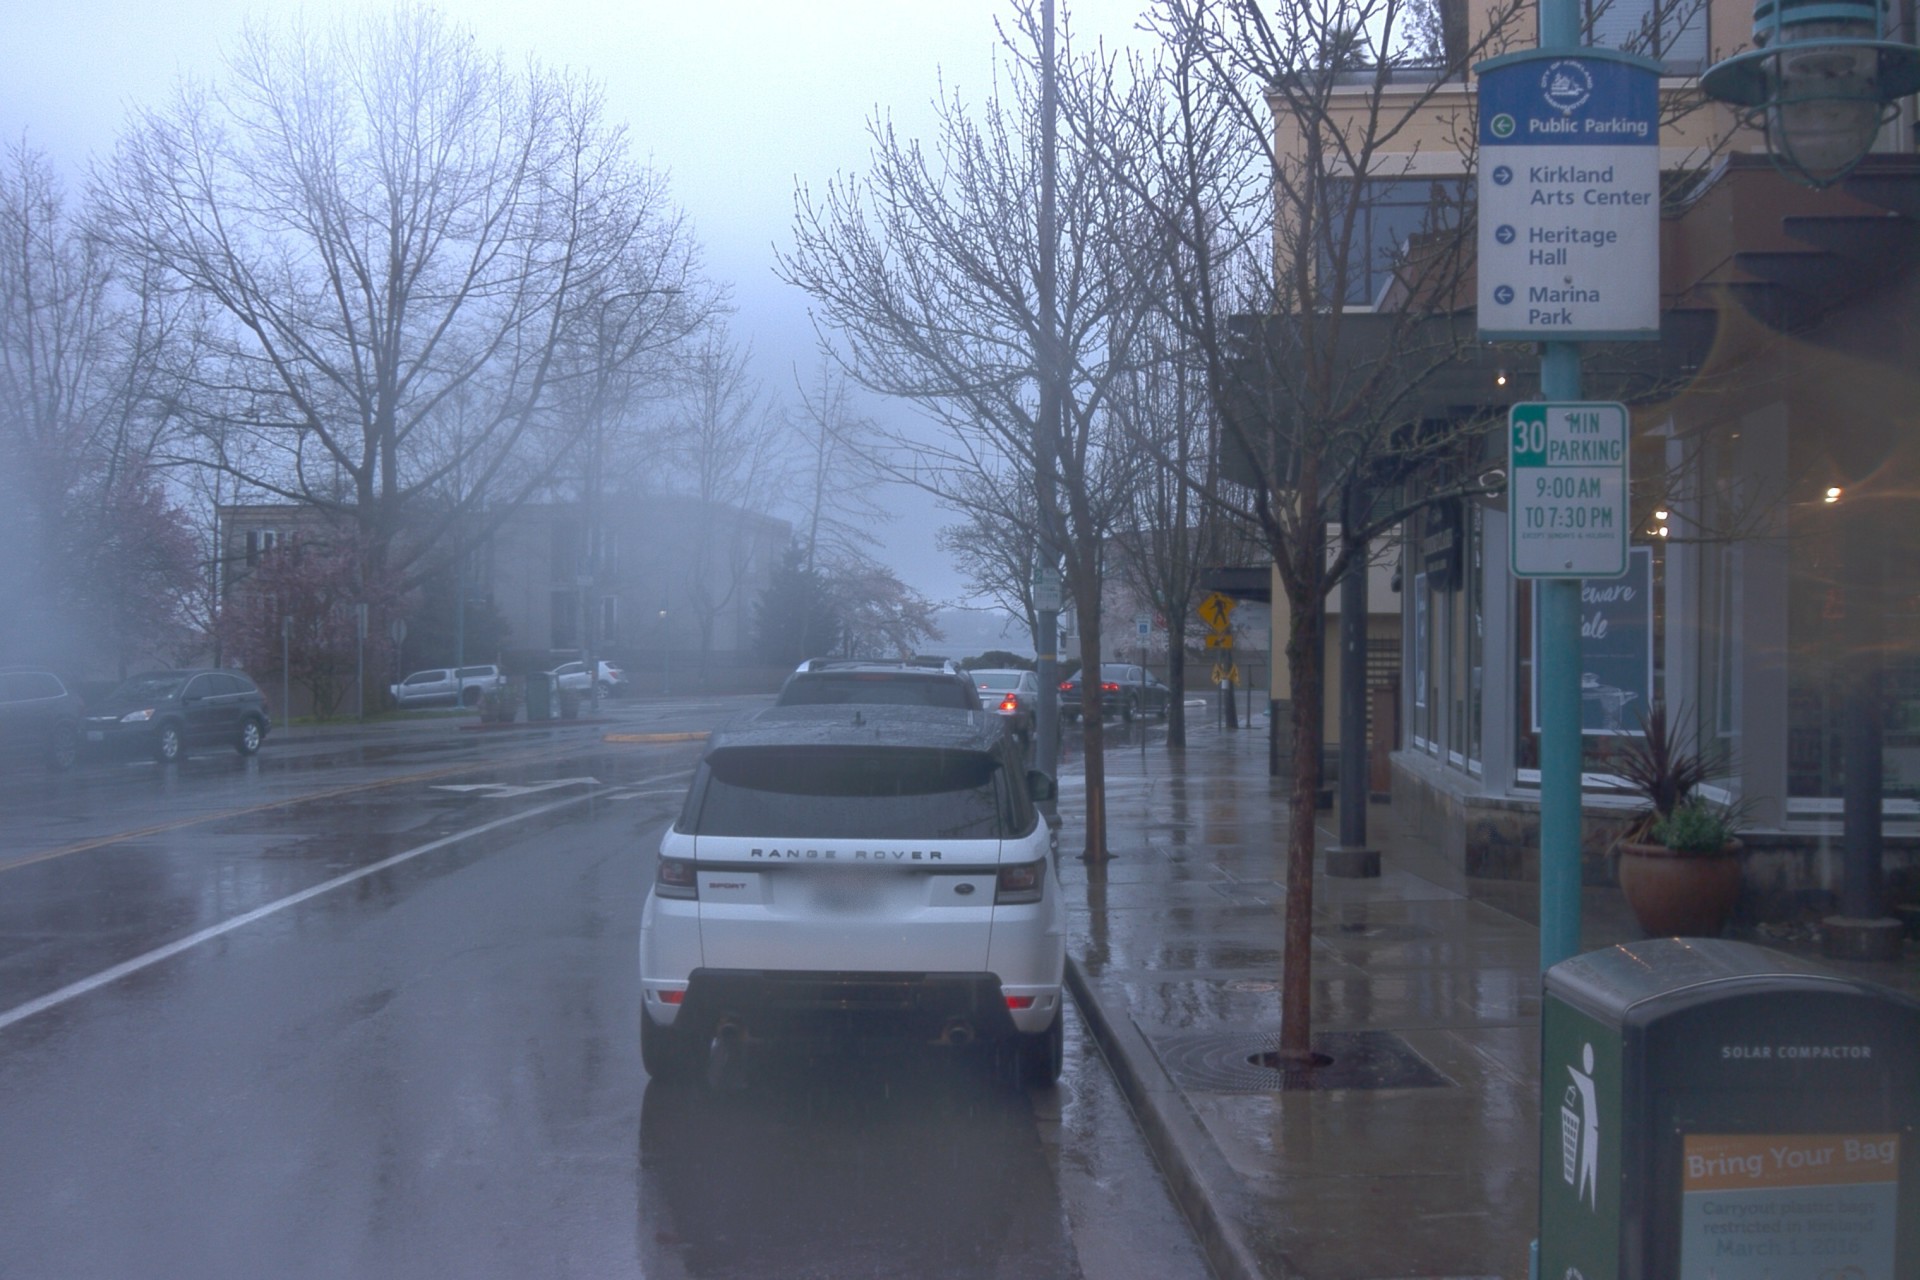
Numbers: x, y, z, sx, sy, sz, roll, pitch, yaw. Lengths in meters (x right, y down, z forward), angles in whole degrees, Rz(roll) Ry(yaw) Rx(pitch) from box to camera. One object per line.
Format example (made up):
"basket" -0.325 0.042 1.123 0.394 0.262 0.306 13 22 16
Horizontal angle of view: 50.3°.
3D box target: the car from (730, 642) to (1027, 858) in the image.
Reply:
"car" -0.710 0.833 17.961 2.210 1.560 5.097 1 0 -2

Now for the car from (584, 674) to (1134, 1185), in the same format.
"car" -0.518 1.261 11.130 2.265 2.000 5.125 1 0 -2
